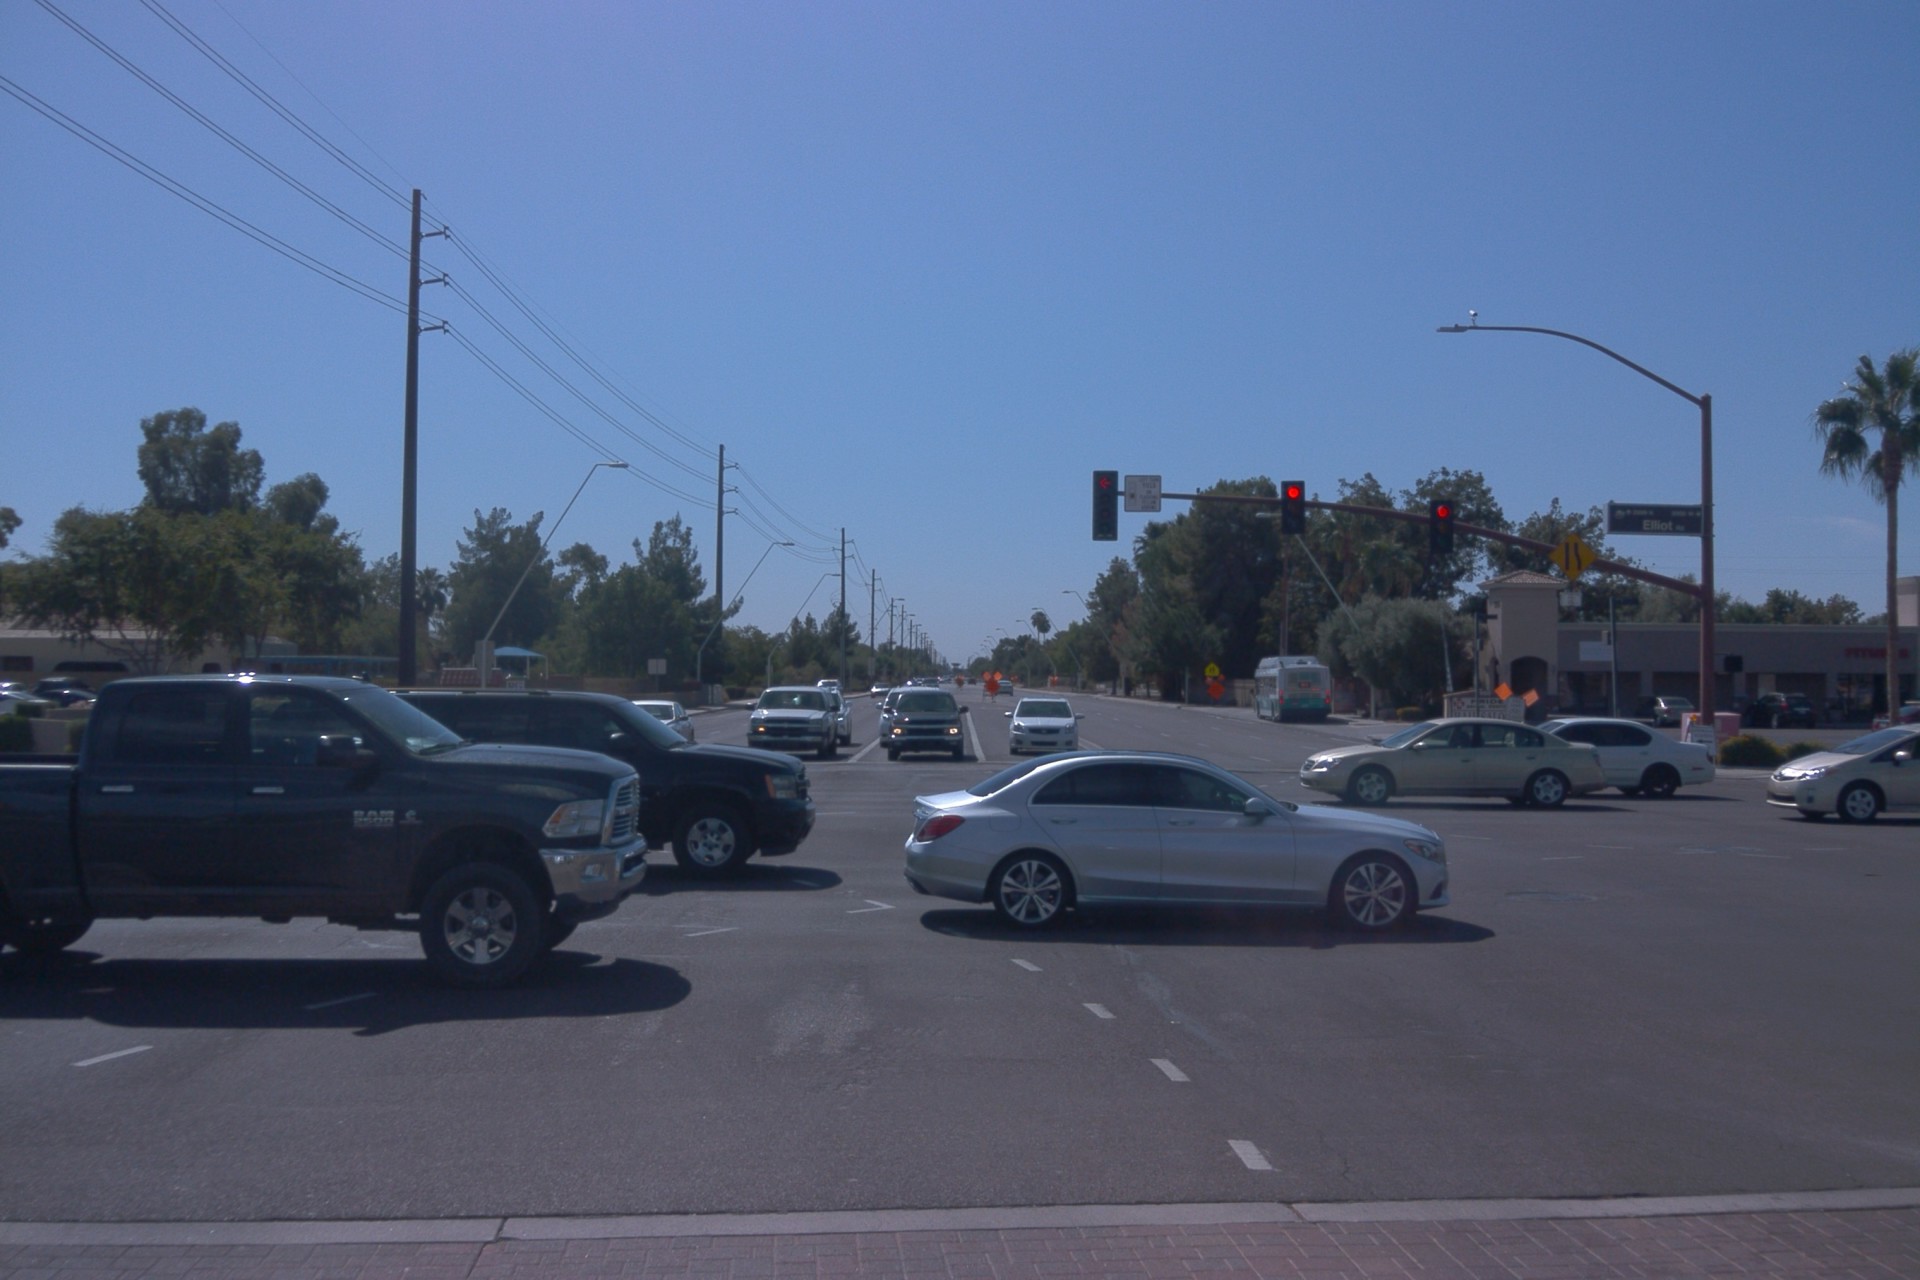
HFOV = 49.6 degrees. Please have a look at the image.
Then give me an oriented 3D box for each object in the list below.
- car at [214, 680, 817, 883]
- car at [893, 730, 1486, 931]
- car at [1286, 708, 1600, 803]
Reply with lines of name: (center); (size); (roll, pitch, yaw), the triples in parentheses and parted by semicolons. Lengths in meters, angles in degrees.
car: (-4.358, 1.384, 21.179); (5.684, 1.950, 2.314); (0, -1, -1)
car: (1.825, 1.562, 17.589); (4.725, 1.550, 2.031); (0, -1, 0)
car: (7.909, 1.886, 34.324); (4.696, 1.490, 1.982); (0, -1, -1)
